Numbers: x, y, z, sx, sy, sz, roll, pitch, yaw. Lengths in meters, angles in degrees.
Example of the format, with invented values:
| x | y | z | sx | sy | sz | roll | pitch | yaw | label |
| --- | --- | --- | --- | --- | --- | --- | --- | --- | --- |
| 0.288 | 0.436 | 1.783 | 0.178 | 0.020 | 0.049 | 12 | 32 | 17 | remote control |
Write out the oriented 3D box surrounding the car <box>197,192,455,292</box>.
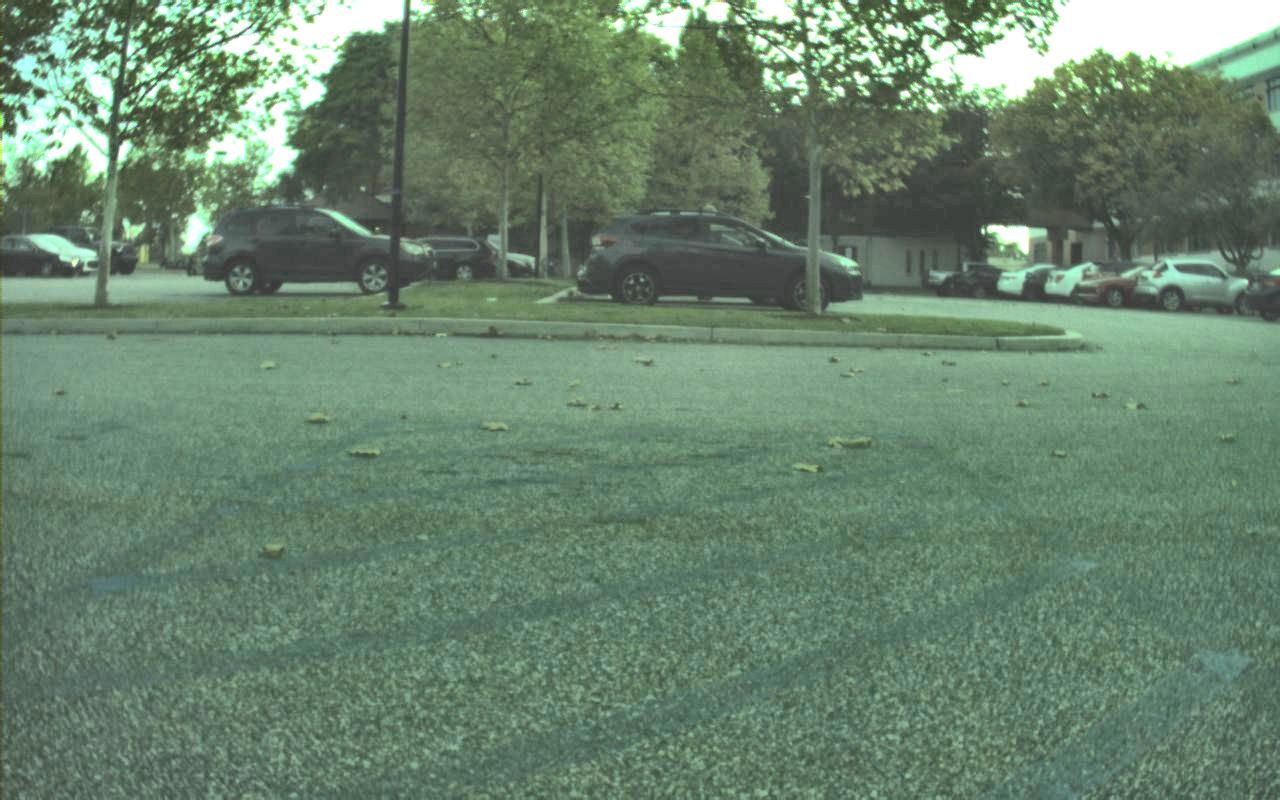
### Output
| x | y | z | sx | sy | sz | roll | pitch | yaw | label |
| --- | --- | --- | --- | --- | --- | --- | --- | --- | --- |
| -5.956 | -2.939 | 23.249 | 4.658 | 1.667 | 1.987 | 0 | 1 | 0 | car |

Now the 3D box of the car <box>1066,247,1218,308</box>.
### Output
| x | y | z | sx | sy | sz | roll | pitch | yaw | label |
| --- | --- | --- | --- | --- | --- | --- | --- | --- | --- |
| 15.433 | -3.665 | 36.267 | 4.525 | 1.626 | 1.974 | 0 | 1 | -1 | car |

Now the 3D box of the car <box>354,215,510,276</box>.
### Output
| x | y | z | sx | sy | sz | roll | pitch | yaw | label |
| --- | --- | --- | --- | --- | --- | --- | --- | --- | --- |
| -6.453 | -4.785 | 38.780 | 4.661 | 1.732 | 2.009 | 0 | 1 | -3 | car |

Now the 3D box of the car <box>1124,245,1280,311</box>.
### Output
| x | y | z | sx | sy | sz | roll | pitch | yaw | label |
| --- | --- | --- | --- | --- | --- | --- | --- | --- | --- |
| 16.289 | -3.416 | 33.483 | 4.494 | 1.651 | 1.957 | 1 | 1 | 4 | car |

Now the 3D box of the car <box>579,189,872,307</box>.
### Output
| x | y | z | sx | sy | sz | roll | pitch | yaw | label |
| --- | --- | --- | --- | --- | --- | --- | --- | --- | --- |
| 1.314 | -2.407 | 20.305 | 4.546 | 1.666 | 1.951 | 0 | 1 | -3 | car |
